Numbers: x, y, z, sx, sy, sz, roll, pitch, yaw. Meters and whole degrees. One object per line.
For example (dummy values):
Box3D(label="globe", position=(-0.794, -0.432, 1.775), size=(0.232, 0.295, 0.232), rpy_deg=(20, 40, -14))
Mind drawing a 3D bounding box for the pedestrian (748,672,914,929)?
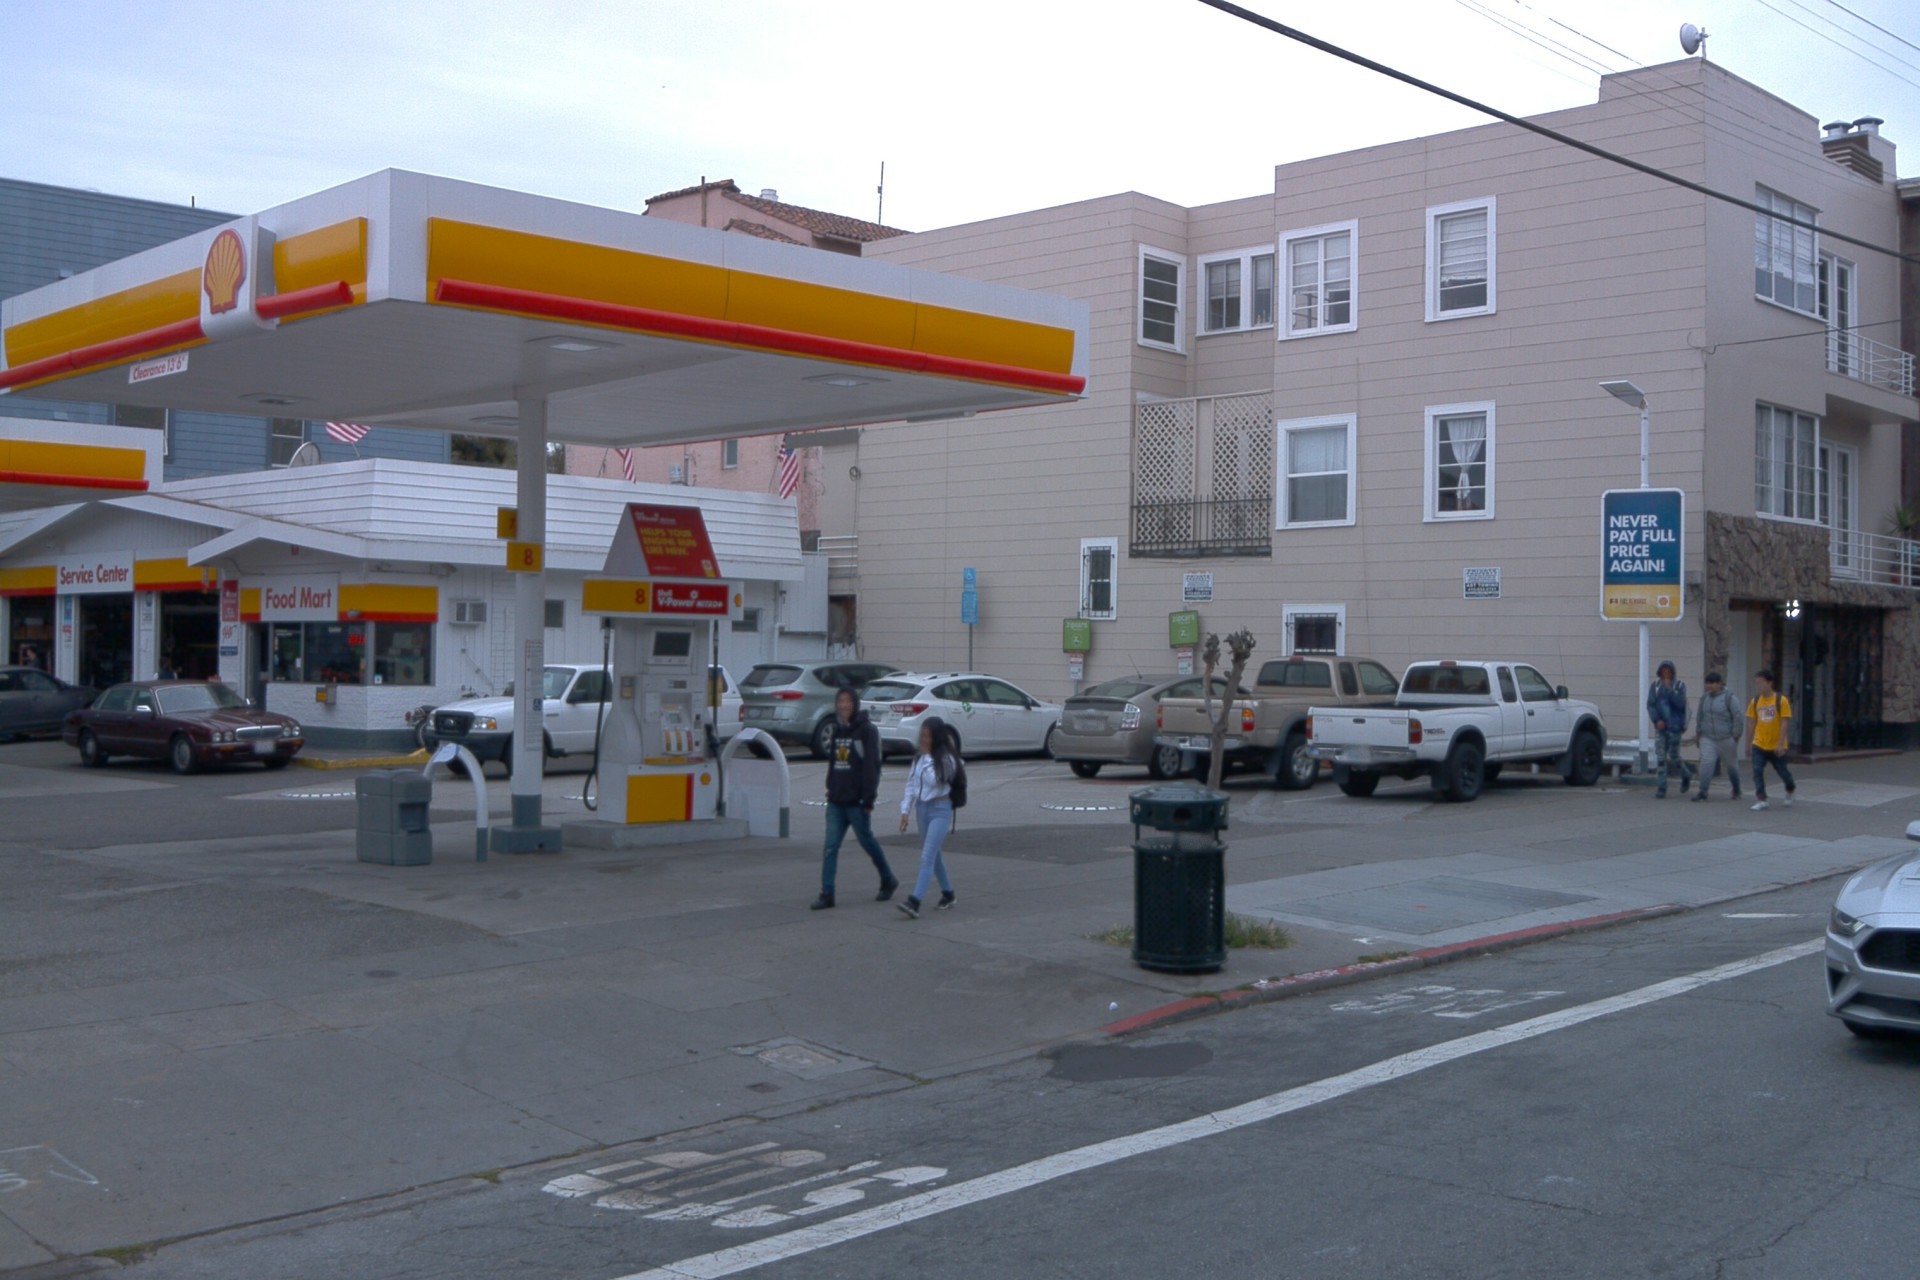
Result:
Box3D(label="pedestrian", position=(-0.985, 1.190, 15.793), size=(0.878, 1.843, 0.913), rpy_deg=(1, 1, 41))

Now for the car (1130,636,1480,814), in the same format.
Box3D(label="car", position=(4.901, 1.069, 28.766), size=(2.215, 2.170, 5.226), rpy_deg=(1, 1, 44))

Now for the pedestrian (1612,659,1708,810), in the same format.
Box3D(label="pedestrian", position=(8.840, 1.168, 26.063), size=(0.960, 1.830, 0.783), rpy_deg=(-1, 1, -44))

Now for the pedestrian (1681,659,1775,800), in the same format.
Box3D(label="pedestrian", position=(9.640, 1.107, 25.897), size=(0.912, 1.700, 0.769), rpy_deg=(-1, 1, -44))

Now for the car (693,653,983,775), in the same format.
Box3D(label="car", position=(-2.014, 1.192, 35.289), size=(2.068, 1.830, 4.796), rpy_deg=(1, 1, 44))

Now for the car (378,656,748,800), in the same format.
Box3D(label="car", position=(-5.846, 1.227, 30.977), size=(2.176, 1.840, 5.201), rpy_deg=(1, 1, 41))

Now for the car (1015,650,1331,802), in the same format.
Box3D(label="car", position=(3.199, 1.176, 30.288), size=(2.124, 1.930, 4.729), rpy_deg=(1, 1, 44))

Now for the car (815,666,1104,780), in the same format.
Box3D(label="car", position=(0.054, 1.307, 34.163), size=(4.622, 1.610, 2.098), rpy_deg=(-1, 1, -44))

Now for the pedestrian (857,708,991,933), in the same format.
Box3D(label="pedestrian", position=(-0.270, 1.330, 15.537), size=(0.643, 1.590, 0.793), rpy_deg=(1, 1, 40))

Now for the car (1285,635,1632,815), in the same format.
Box3D(label="car", position=(6.527, 0.986, 26.609), size=(1.933, 2.030, 5.191), rpy_deg=(1, 1, 45))

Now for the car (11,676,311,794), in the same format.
Box3D(label="car", position=(-12.526, 1.415, 32.188), size=(5.194, 1.520, 2.149), rpy_deg=(1, 1, 41))

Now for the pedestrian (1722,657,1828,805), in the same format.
Box3D(label="pedestrian", position=(9.928, 1.086, 25.132), size=(1.064, 1.720, 0.821), rpy_deg=(-1, 1, -43))
